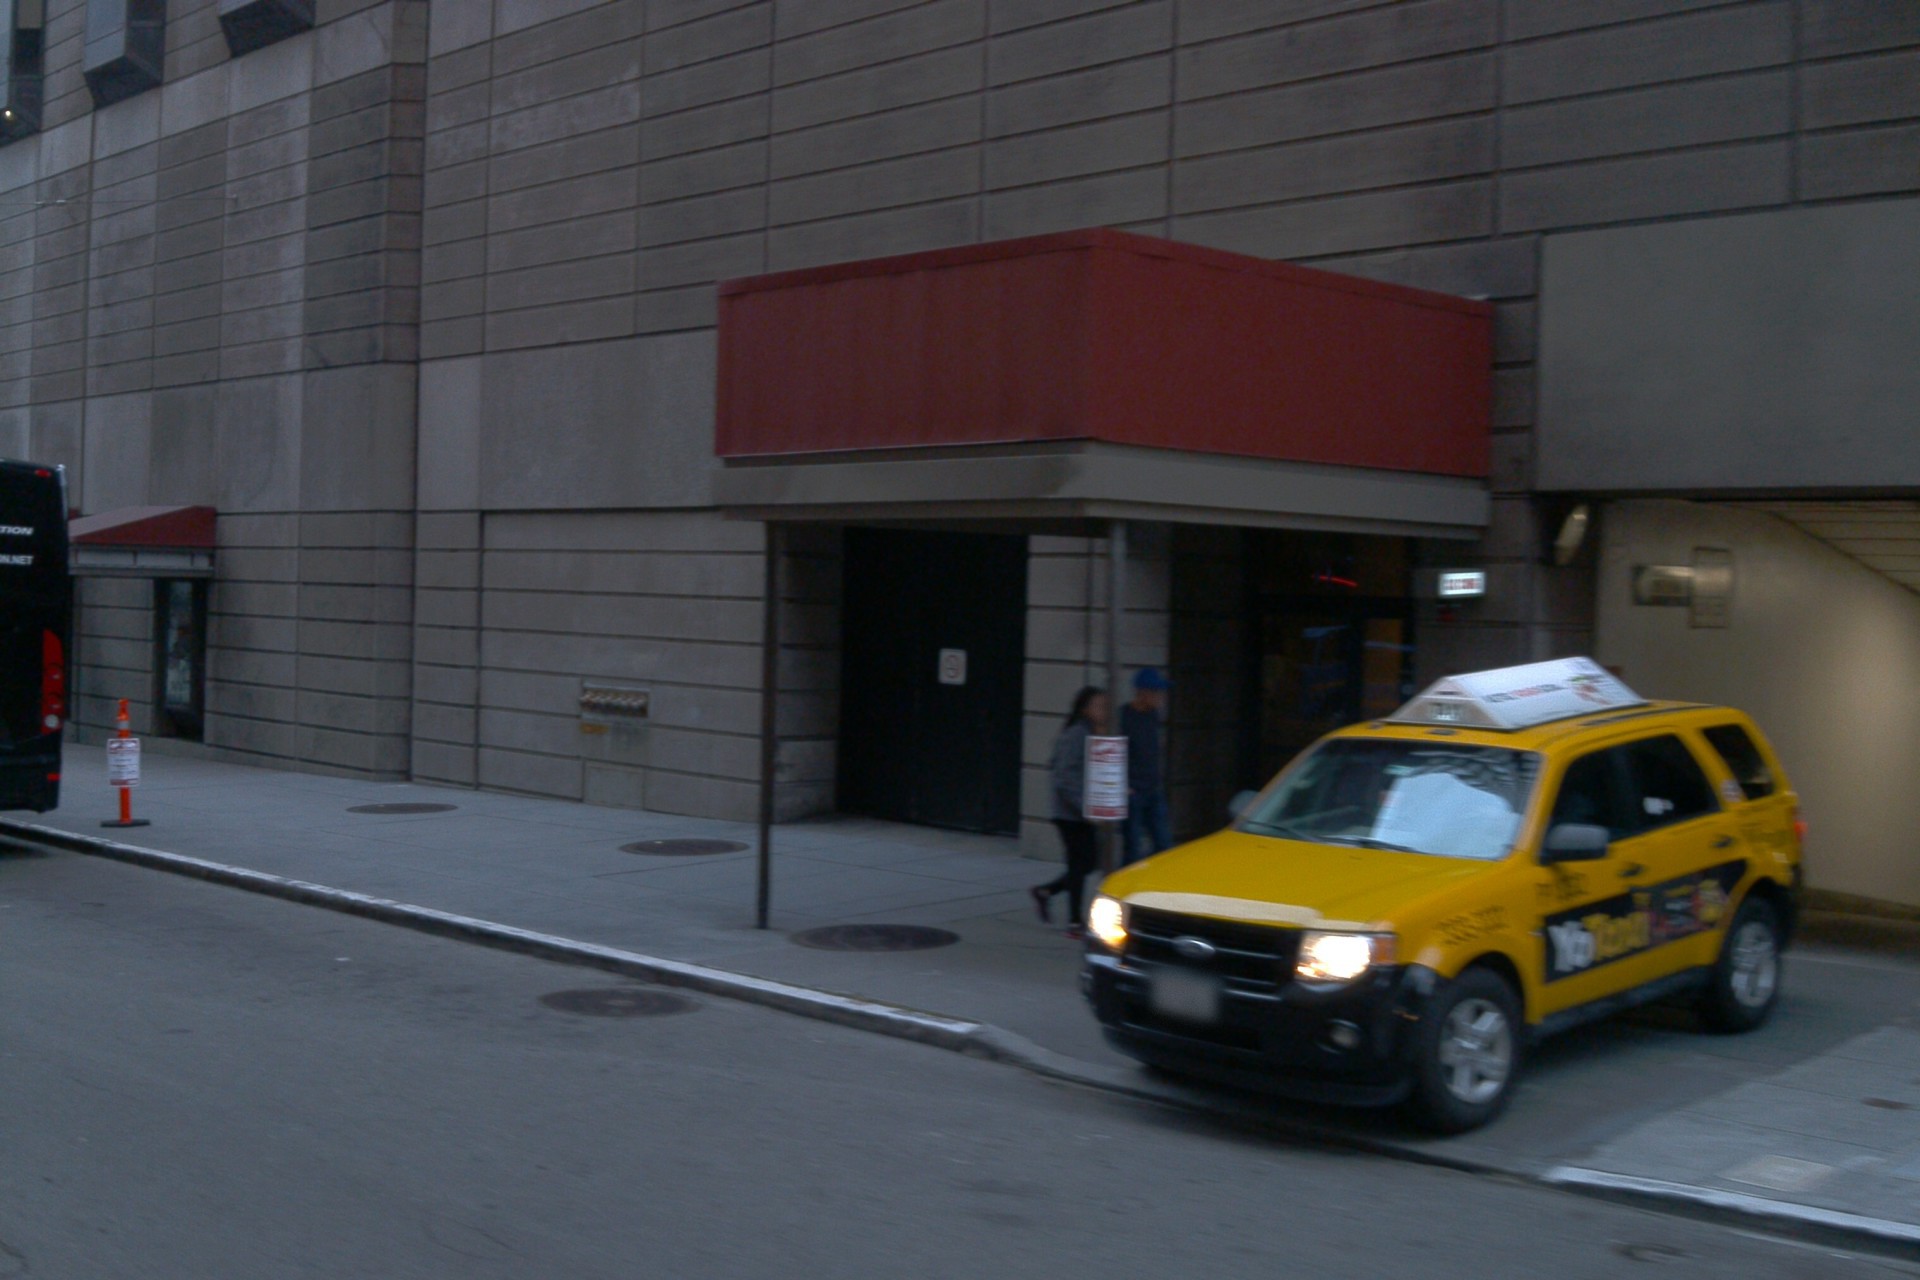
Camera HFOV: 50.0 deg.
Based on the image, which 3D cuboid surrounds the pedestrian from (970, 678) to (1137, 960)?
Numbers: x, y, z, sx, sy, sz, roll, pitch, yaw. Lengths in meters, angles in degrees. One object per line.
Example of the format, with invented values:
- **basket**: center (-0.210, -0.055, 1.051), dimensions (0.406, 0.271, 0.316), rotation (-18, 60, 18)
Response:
- **pedestrian**: center (0.608, 1.128, 13.392), dimensions (0.853, 1.740, 0.670), rotation (0, 0, 40)

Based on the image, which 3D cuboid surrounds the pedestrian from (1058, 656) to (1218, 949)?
- **pedestrian**: center (1.171, 1.033, 13.514), dimensions (0.854, 1.840, 0.606), rotation (0, 0, 38)

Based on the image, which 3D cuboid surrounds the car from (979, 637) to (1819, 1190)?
- **car**: center (2.376, 1.070, 10.358), dimensions (2.085, 2.160, 4.389), rotation (0, 0, 45)
